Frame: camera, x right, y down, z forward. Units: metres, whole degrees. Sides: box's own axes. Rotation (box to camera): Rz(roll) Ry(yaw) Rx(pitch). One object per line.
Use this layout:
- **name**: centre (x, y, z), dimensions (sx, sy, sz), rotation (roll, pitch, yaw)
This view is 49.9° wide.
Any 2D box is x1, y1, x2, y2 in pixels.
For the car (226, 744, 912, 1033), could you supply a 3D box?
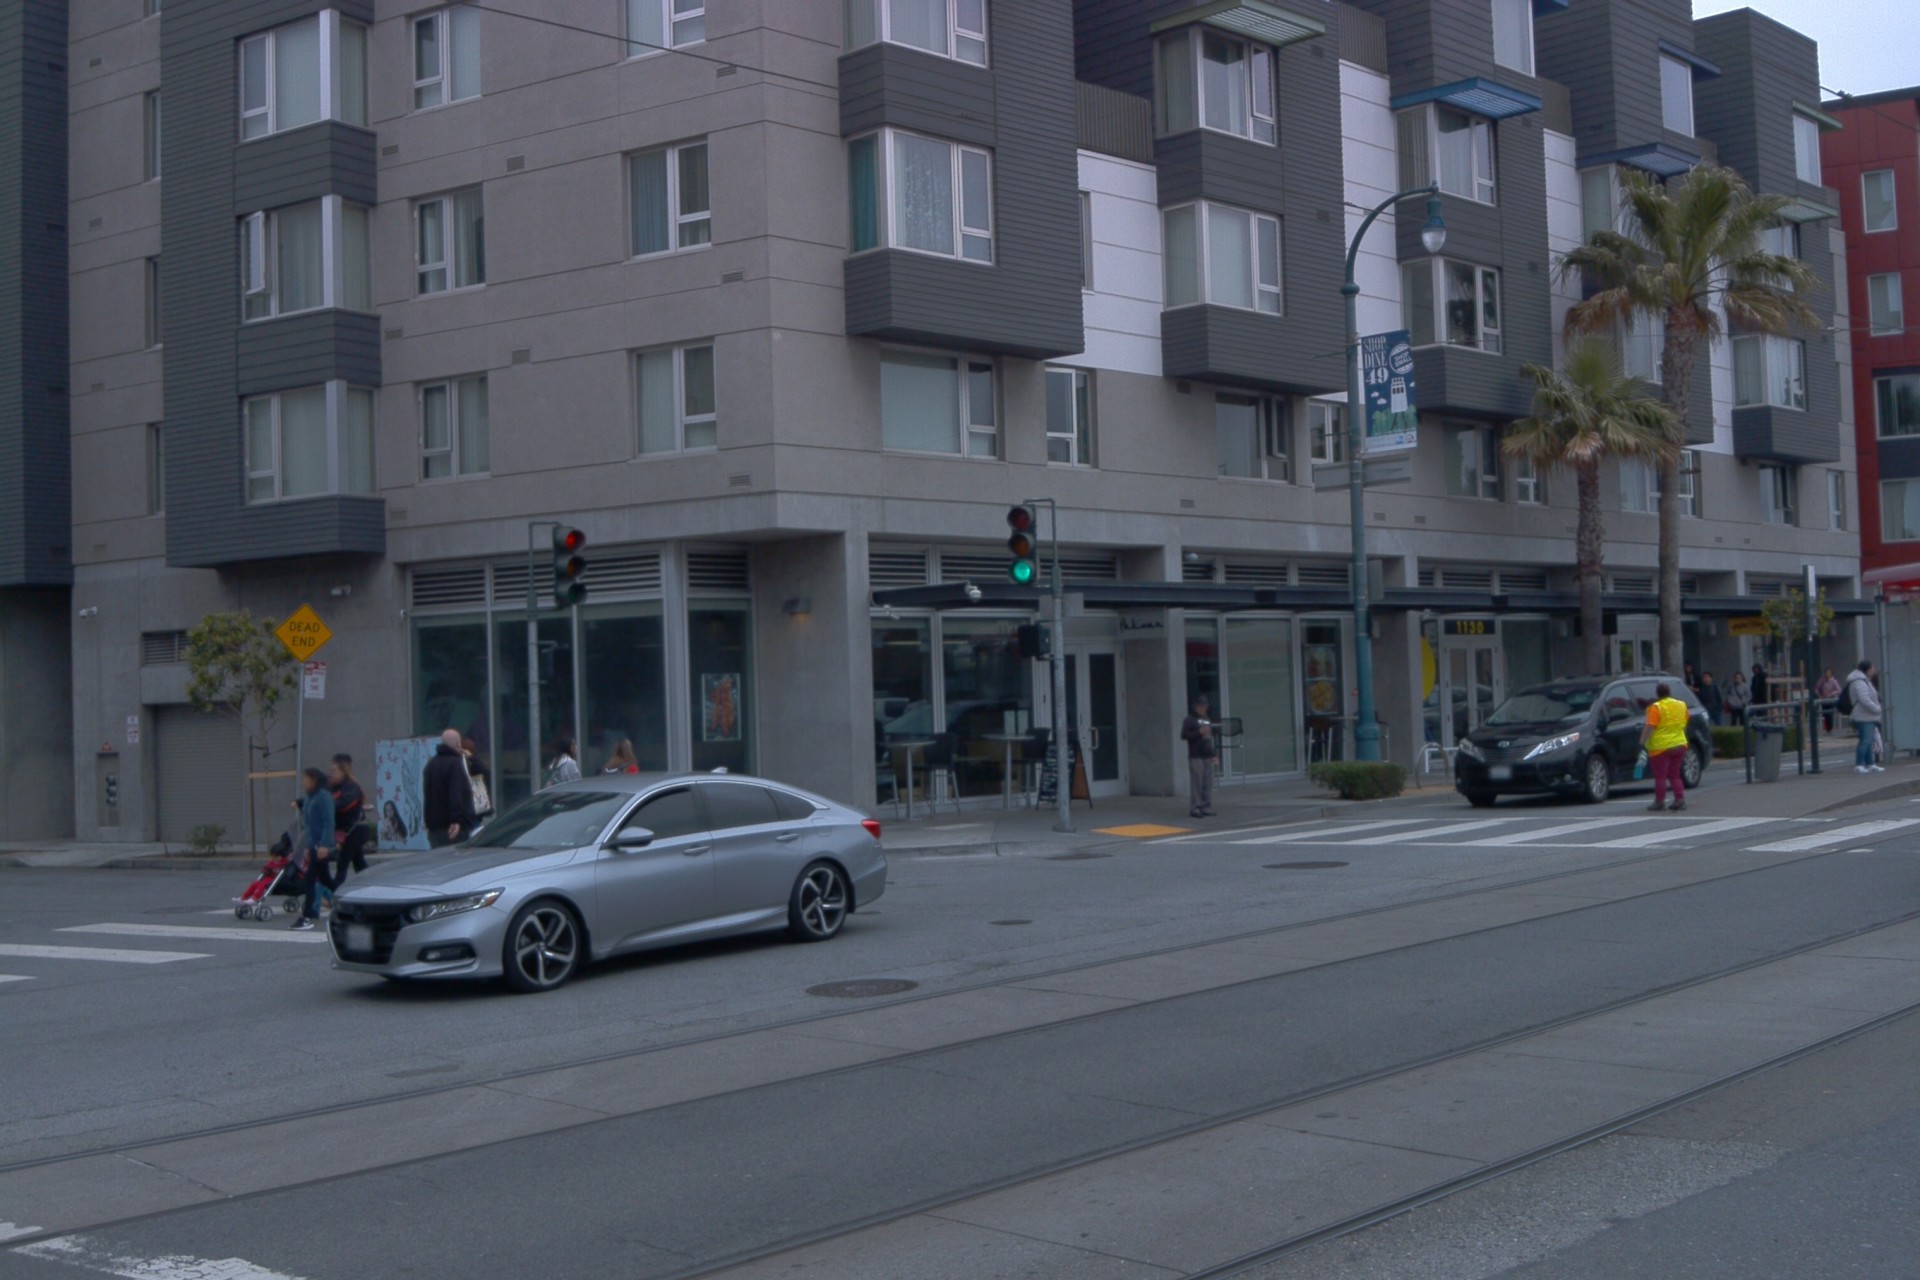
- **car**: centre (-2.797, 1.726, 15.825), dimensions (2.178, 1.500, 4.889), rotation (1, 1, 40)

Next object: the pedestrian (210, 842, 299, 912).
- **pedestrian**: centre (-6.899, 2.313, 20.187), dimensions (0.540, 0.573, 0.641), rotation (1, 1, 41)

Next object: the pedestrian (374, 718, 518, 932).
- **pedestrian**: centre (-4.911, 1.734, 19.723), dimensions (0.906, 1.900, 0.990), rotation (1, 1, 42)

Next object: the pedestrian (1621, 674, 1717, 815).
- **pedestrian**: centre (8.849, 1.290, 25.773), dimensions (0.899, 1.700, 0.700), rotation (0, 1, -11)

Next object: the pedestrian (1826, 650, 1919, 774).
- **pedestrian**: centre (12.892, 1.002, 29.183), dimensions (0.860, 1.700, 0.975), rotation (0, 1, -1)

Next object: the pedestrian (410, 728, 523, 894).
- **pedestrian**: centre (-5.499, 1.880, 22.993), dimensions (0.989, 1.733, 0.777), rotation (-1, 1, -37)

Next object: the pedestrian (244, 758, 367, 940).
- **pedestrian**: centre (-6.144, 1.940, 19.378), dimensions (0.747, 1.583, 0.807), rotation (1, 1, 37)

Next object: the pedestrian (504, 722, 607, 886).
- **pedestrian**: centre (-4.659, 1.868, 23.739), dimensions (0.932, 1.773, 0.772), rotation (-1, 1, -34)

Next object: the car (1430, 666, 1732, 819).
- **car**: centre (9.117, 1.400, 30.039), dimensions (2.147, 1.880, 5.074), rotation (1, 1, 44)

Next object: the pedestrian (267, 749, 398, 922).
- **pedestrian**: centre (-6.320, 1.945, 20.812), dimensions (0.724, 1.613, 1.028), rotation (1, 1, 41)
